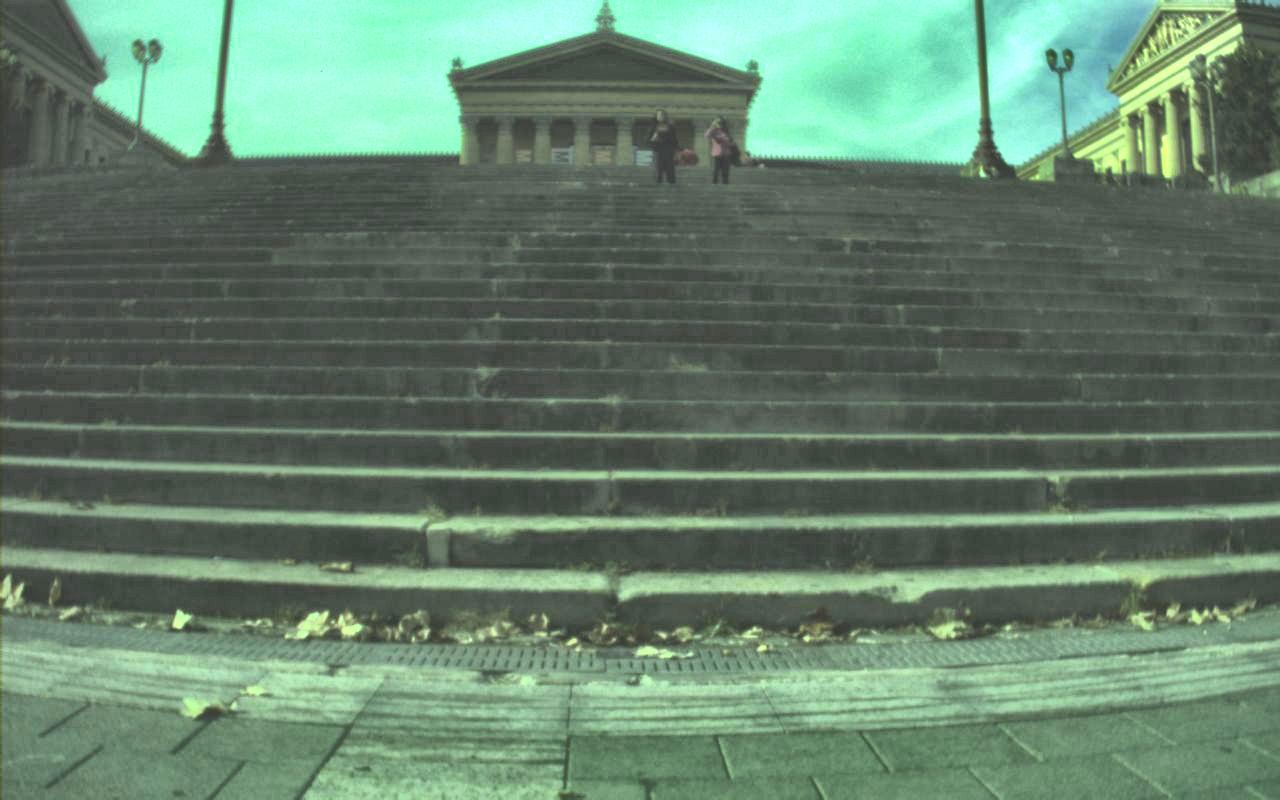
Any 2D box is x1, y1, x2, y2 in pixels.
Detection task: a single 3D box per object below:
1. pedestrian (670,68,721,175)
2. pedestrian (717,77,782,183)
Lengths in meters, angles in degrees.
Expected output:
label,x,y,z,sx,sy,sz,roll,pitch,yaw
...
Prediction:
label,x,y,z,sx,sy,sz,roll,pitch,yaw
pedestrian,0.962,-4.757,21.330,0.806,1.727,0.790,0,0,7
pedestrian,1.909,-4.688,21.694,0.813,1.682,0.795,1,0,40
